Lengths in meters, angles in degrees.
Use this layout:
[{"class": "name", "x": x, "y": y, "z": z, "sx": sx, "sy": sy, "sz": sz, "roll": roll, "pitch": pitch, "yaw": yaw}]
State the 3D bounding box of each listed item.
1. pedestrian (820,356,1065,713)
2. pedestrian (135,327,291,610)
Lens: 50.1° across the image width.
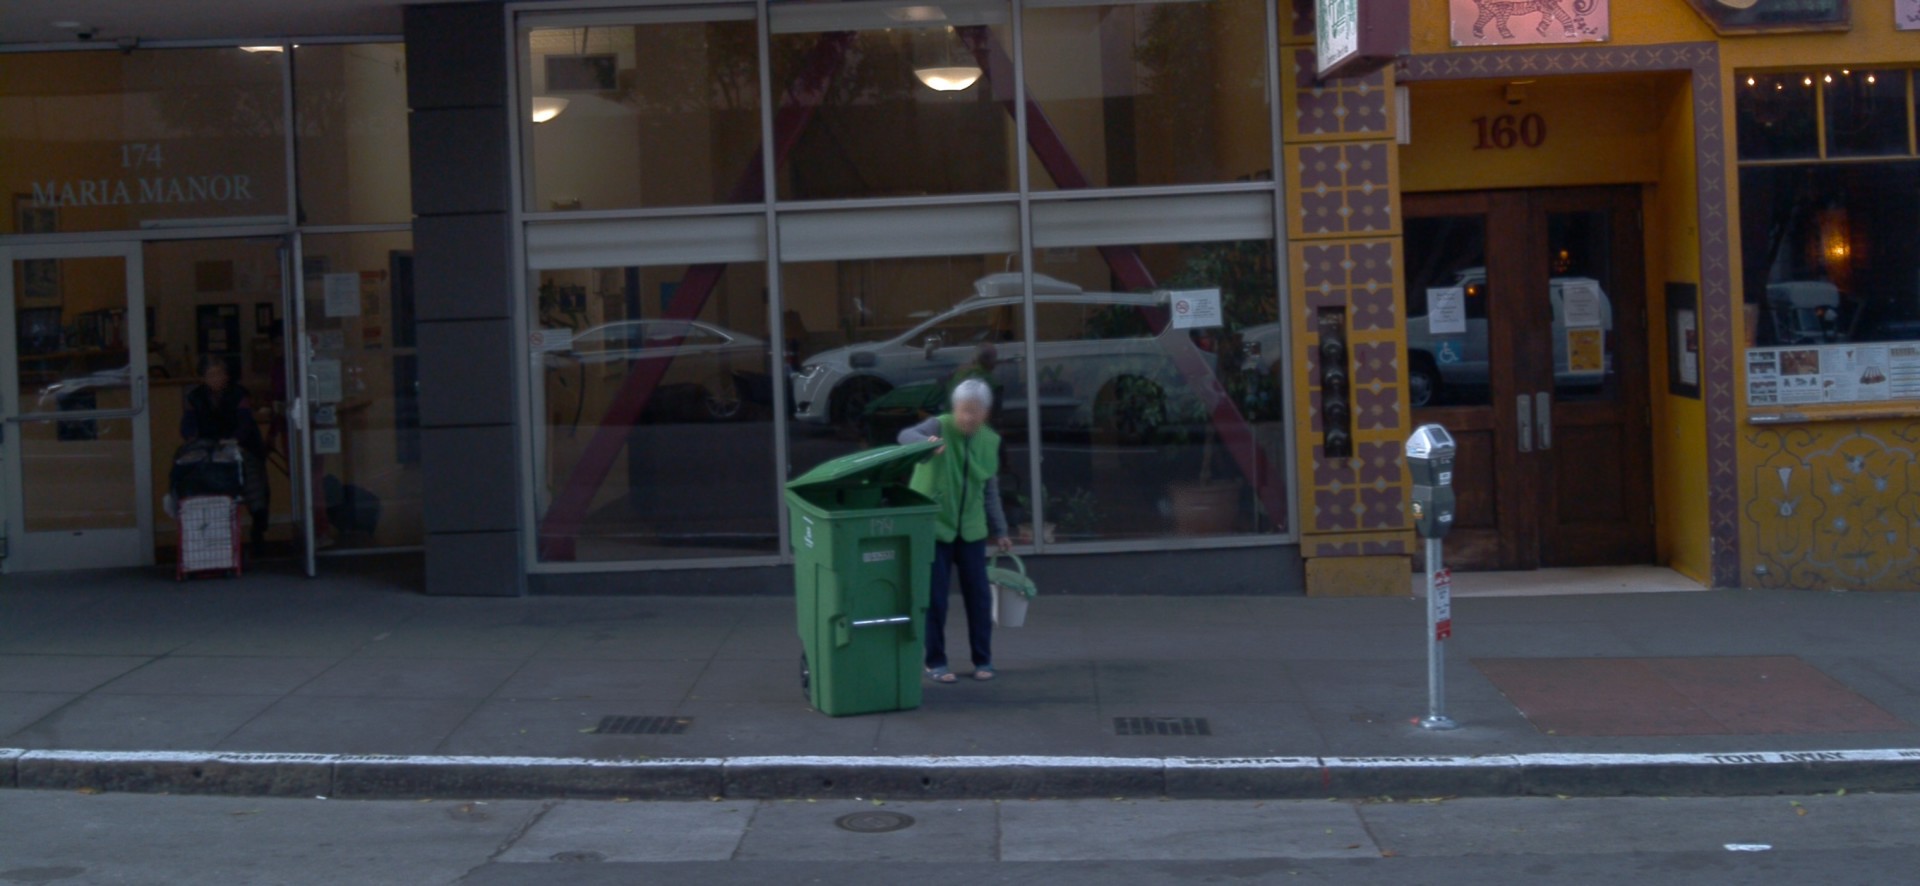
[{"class": "pedestrian", "x": -0.094, "y": 0.401, "z": 9.937, "sx": 1.023, "sy": 1.579, "sz": 0.694, "roll": -1, "pitch": 1, "yaw": -19}, {"class": "pedestrian", "x": -4.700, "y": 0.116, "z": 13.002, "sx": 0.668, "sy": 1.638, "sz": 1.264, "roll": 0, "pitch": 2, "yaw": -8}]
